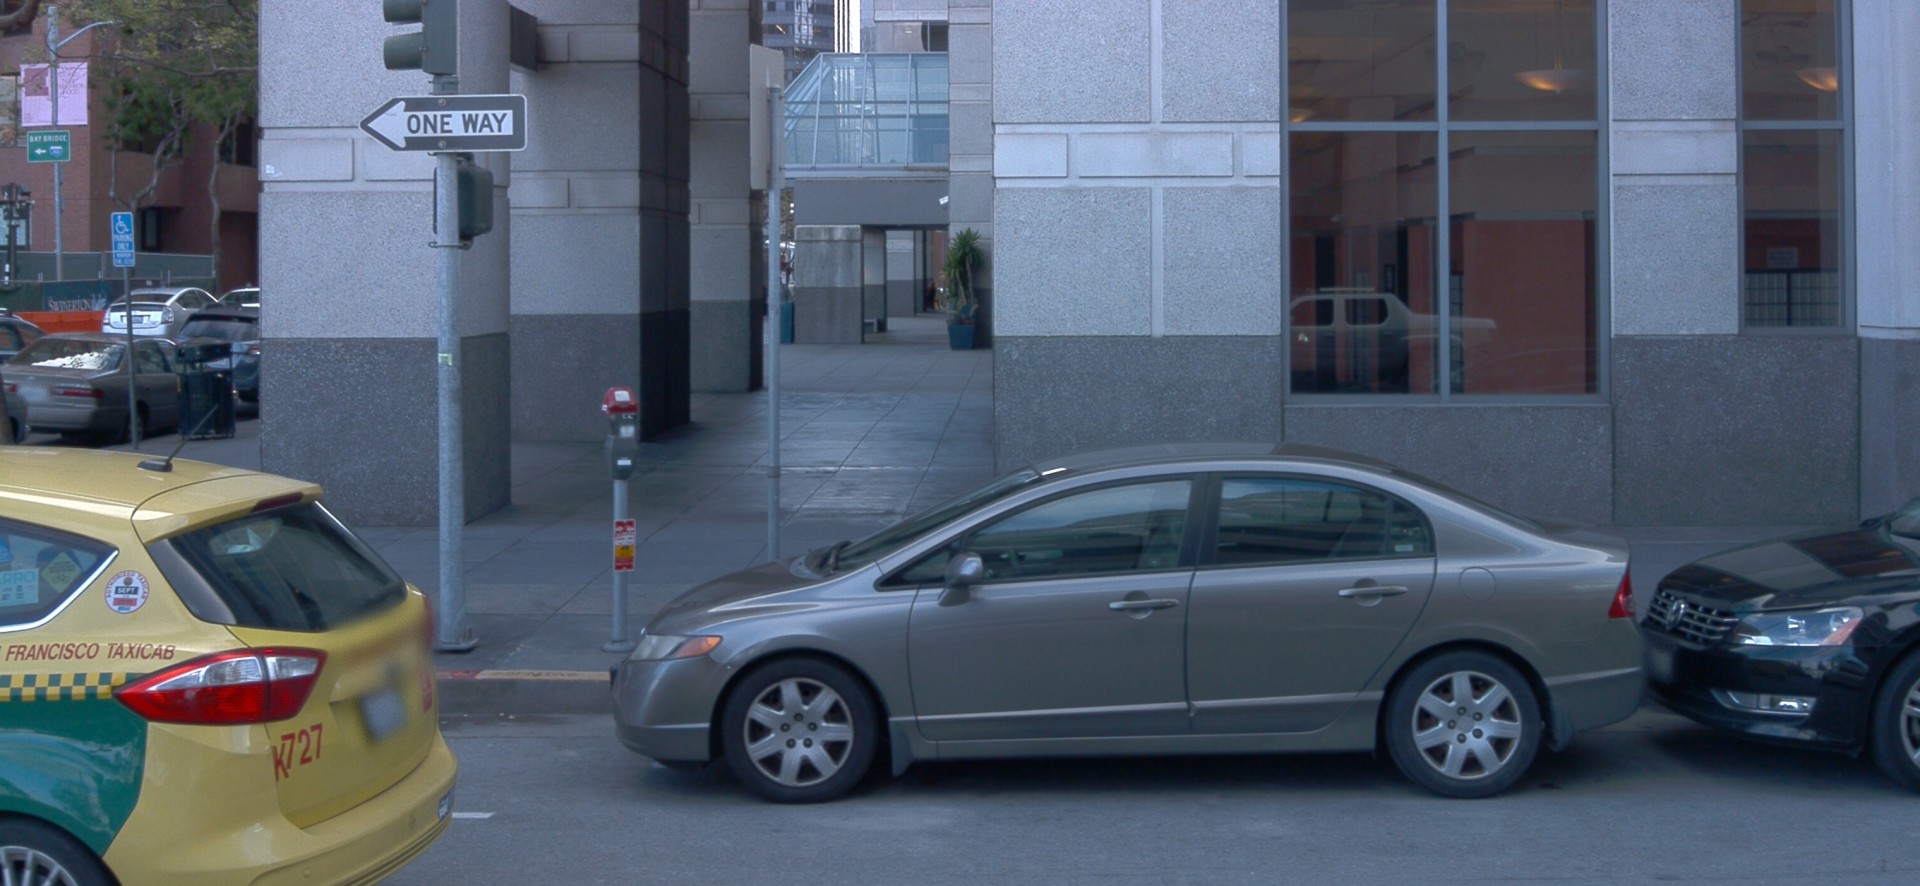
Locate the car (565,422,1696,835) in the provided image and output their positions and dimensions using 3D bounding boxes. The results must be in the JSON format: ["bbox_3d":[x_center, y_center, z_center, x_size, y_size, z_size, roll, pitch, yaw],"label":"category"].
[{"bbox_3d":[0.678,0.726,9.243,4.505,1.457,2.063,0,4,0],"label":"car"}]

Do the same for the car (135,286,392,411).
[{"bbox_3d":[-10.639,-1.539,31.996,2.261,1.663,4.949,0,5,1],"label":"car"}]
